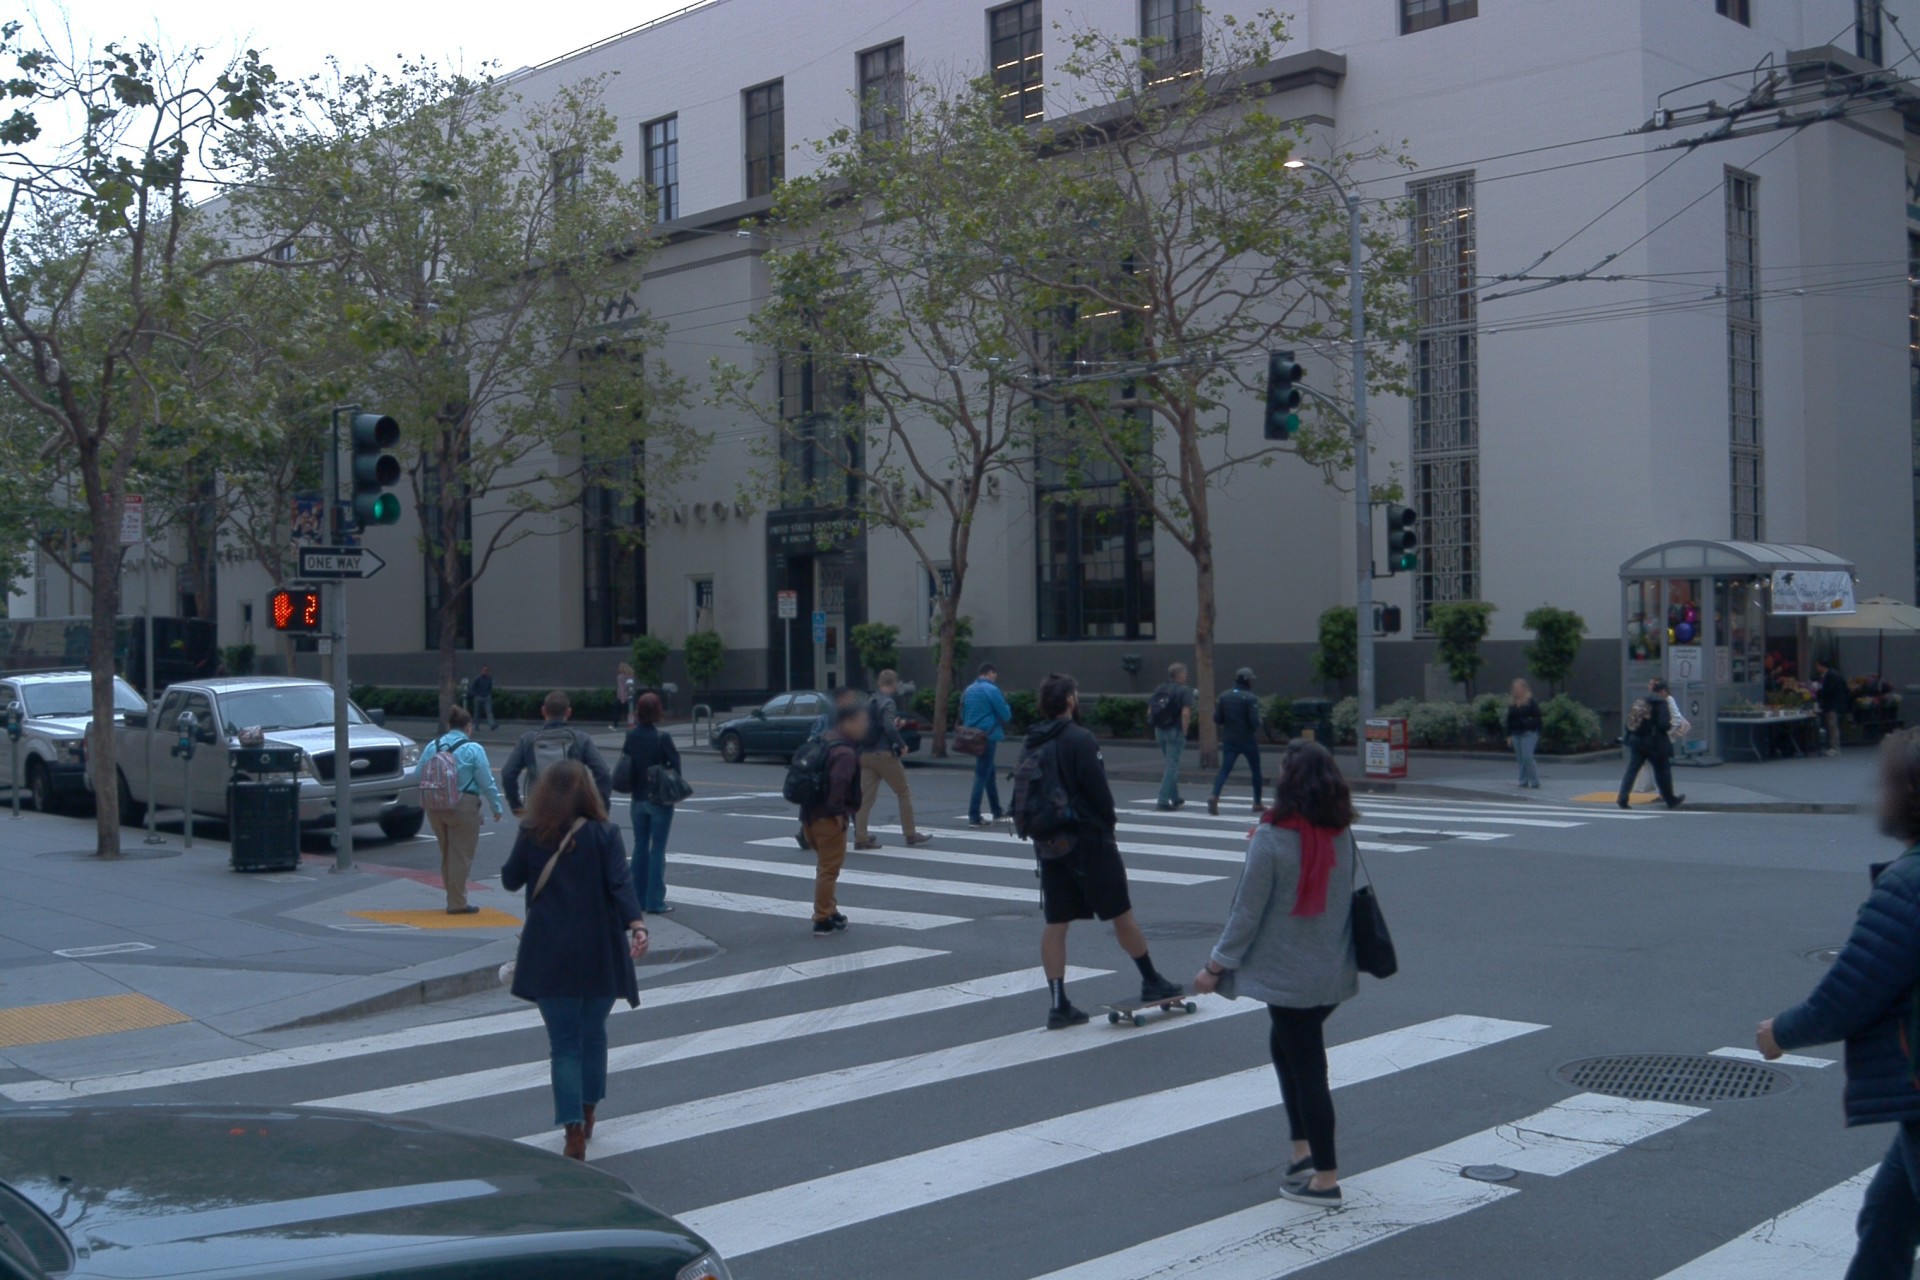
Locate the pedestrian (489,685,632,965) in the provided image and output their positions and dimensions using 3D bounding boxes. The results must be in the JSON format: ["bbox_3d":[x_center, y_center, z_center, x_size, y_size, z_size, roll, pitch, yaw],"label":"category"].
[{"bbox_3d":[-2.758,1.235,14.194,0.853,1.809,0.939,0,1,-17],"label":"pedestrian"}]

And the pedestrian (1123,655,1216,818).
[{"bbox_3d":[2.481,1.120,24.396,0.678,1.856,0.980,0,1,39],"label":"pedestrian"}]

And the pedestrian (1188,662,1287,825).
[{"bbox_3d":[3.198,1.170,23.746,0.753,1.796,0.988,0,1,37],"label":"pedestrian"}]

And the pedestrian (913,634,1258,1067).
[{"bbox_3d":[0.689,1.037,11.110,1.544,2.118,1.097,-1,1,-44],"label":"pedestrian"}]

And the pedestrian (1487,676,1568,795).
[{"bbox_3d":[8.169,1.361,29.701,0.893,1.646,0.735,-1,1,-37],"label":"pedestrian"}]

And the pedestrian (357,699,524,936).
[{"bbox_3d":[-4.125,1.375,16.432,0.830,1.767,1.013,0,1,25],"label":"pedestrian"}]

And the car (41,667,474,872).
[{"bbox_3d":[-8.366,1.367,24.165,2.501,1.940,6.007,-1,1,-44],"label":"car"}]

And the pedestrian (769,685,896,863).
[{"bbox_3d":[-1.294,1.330,20.954,0.974,1.706,0.840,-1,1,-43],"label":"pedestrian"}]

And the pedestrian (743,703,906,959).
[{"bbox_3d":[-0.998,1.377,15.259,0.716,1.771,0.964,1,1,43],"label":"pedestrian"}]

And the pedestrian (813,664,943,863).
[{"bbox_3d":[-0.815,1.203,20.595,1.051,1.896,0.762,-1,1,-39],"label":"pedestrian"}]

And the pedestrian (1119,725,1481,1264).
[{"bbox_3d":[1.236,1.218,7.574,0.800,1.739,1.039,-1,1,-40],"label":"pedestrian"}]

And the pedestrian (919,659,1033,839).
[{"bbox_3d":[0.178,1.174,22.742,0.984,1.896,0.798,-1,1,-44],"label":"pedestrian"}]

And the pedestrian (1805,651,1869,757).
[{"bbox_3d":[14.836,1.061,34.910,0.751,1.746,0.848,1,1,42],"label":"pedestrian"}]

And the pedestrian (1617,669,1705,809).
[{"bbox_3d":[9.385,1.307,27.638,0.807,1.800,0.940,1,1,42],"label":"pedestrian"}]

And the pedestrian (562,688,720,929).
[{"bbox_3d":[-2.608,1.345,16.905,0.828,1.856,0.973,0,1,39],"label":"pedestrian"}]

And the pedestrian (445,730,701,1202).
[{"bbox_3d":[-1.605,1.274,8.468,0.886,1.741,0.888,0,1,-21],"label":"pedestrian"}]

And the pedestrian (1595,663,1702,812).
[{"bbox_3d":[8.516,1.186,25.516,0.963,1.766,0.842,-1,1,-35],"label":"pedestrian"}]
